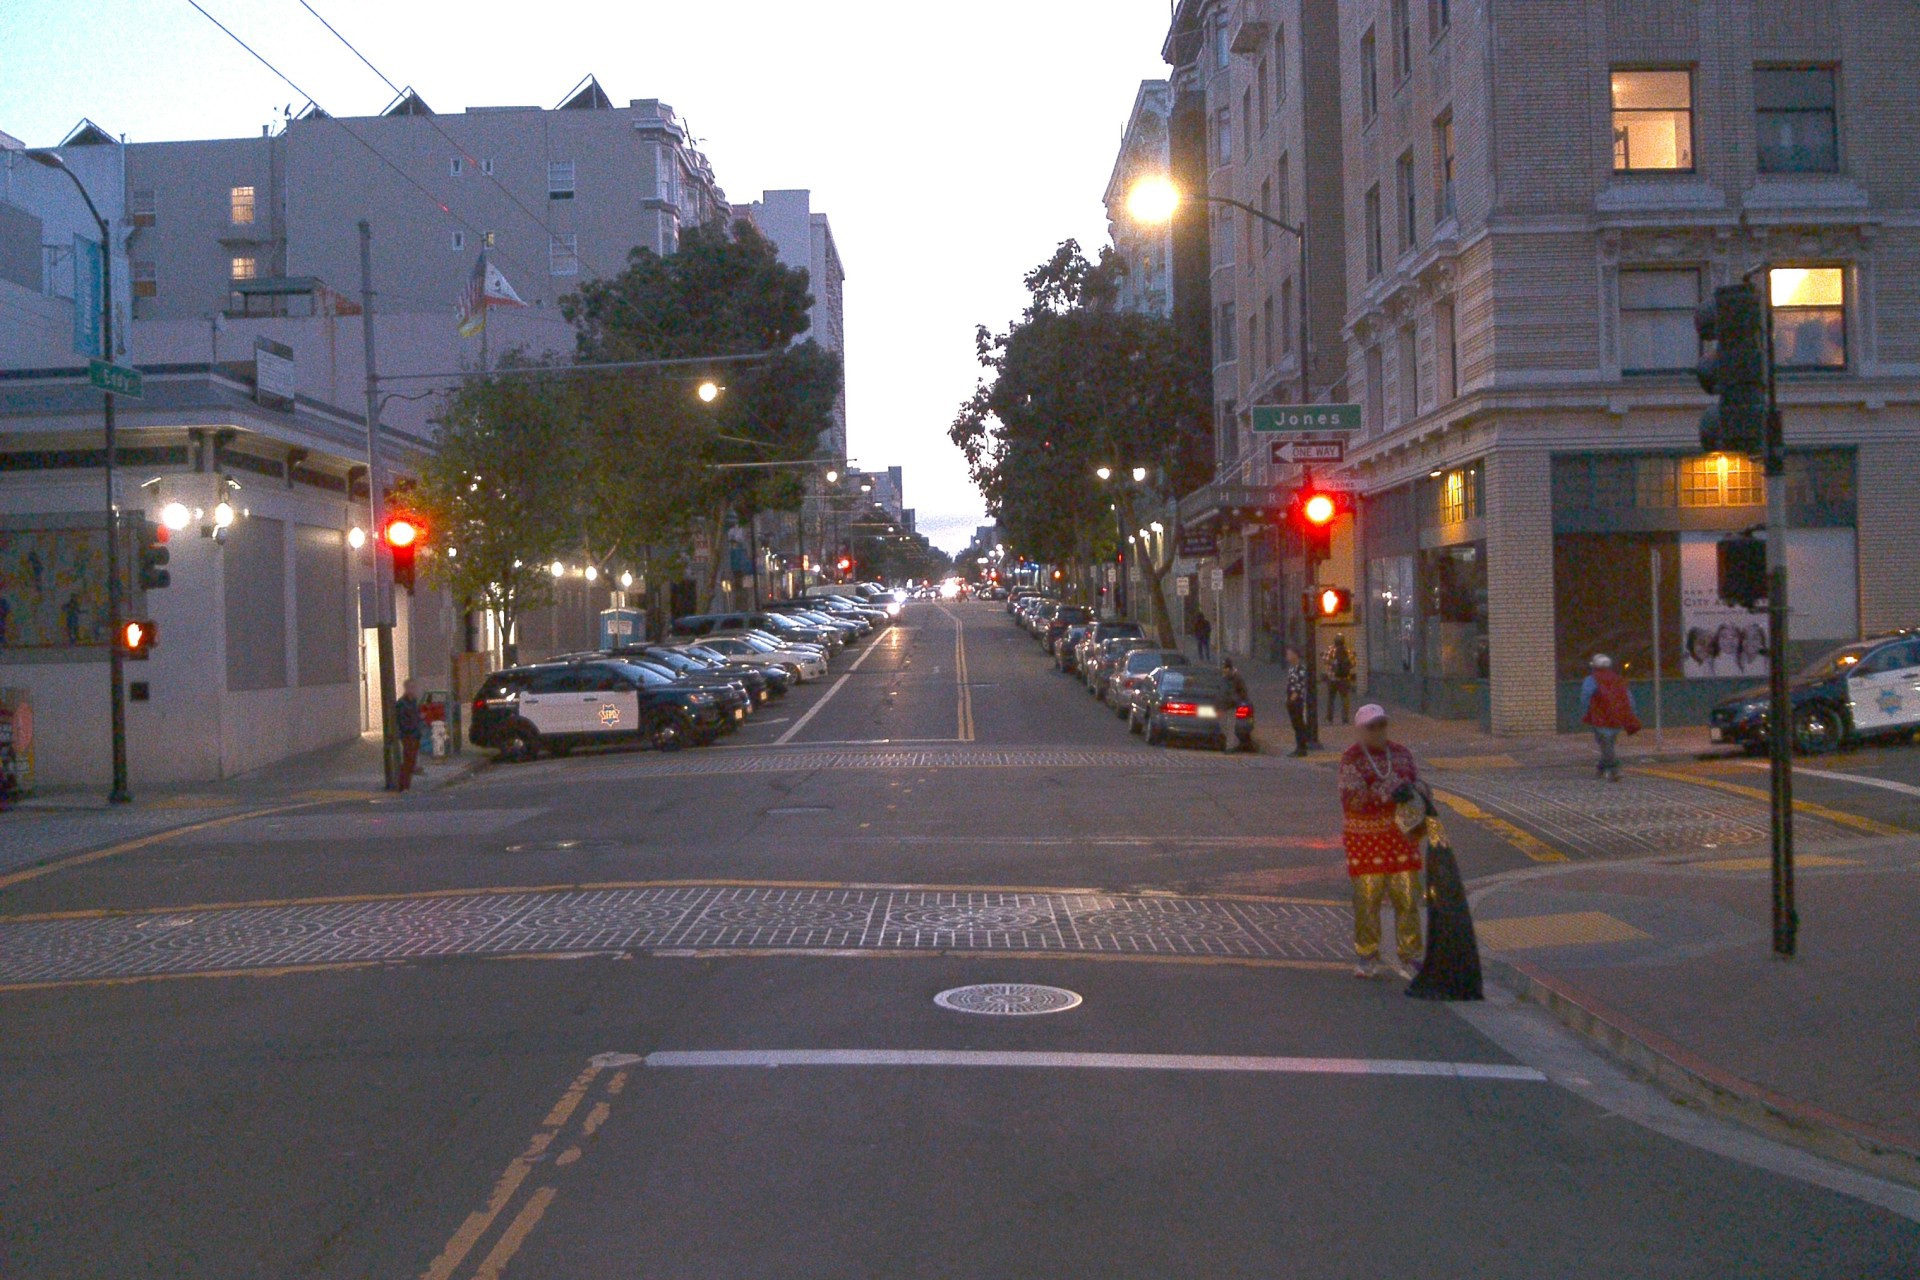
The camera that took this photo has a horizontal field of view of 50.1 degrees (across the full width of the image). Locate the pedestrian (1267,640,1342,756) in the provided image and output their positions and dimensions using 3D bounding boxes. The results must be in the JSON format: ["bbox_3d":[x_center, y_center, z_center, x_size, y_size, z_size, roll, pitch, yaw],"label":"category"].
[{"bbox_3d":[5.499,0.918,32.869,1.076,1.820,0.594,0,1,-2],"label":"pedestrian"}]

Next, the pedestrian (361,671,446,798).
[{"bbox_3d":[-8.605,1.451,31.829,1.099,1.930,0.689,0,1,1],"label":"pedestrian"}]

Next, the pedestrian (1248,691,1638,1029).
[{"bbox_3d":[2.701,1.191,11.920,1.900,1.710,1.968,0,1,4],"label":"pedestrian"}]

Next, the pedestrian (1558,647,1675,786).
[{"bbox_3d":[7.765,0.889,24.365,0.999,1.590,1.001,0,1,-5],"label":"pedestrian"}]

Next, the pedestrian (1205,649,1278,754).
[{"bbox_3d":[4.672,1.012,34.180,0.999,1.700,1.001,0,1,-6],"label":"pedestrian"}]
